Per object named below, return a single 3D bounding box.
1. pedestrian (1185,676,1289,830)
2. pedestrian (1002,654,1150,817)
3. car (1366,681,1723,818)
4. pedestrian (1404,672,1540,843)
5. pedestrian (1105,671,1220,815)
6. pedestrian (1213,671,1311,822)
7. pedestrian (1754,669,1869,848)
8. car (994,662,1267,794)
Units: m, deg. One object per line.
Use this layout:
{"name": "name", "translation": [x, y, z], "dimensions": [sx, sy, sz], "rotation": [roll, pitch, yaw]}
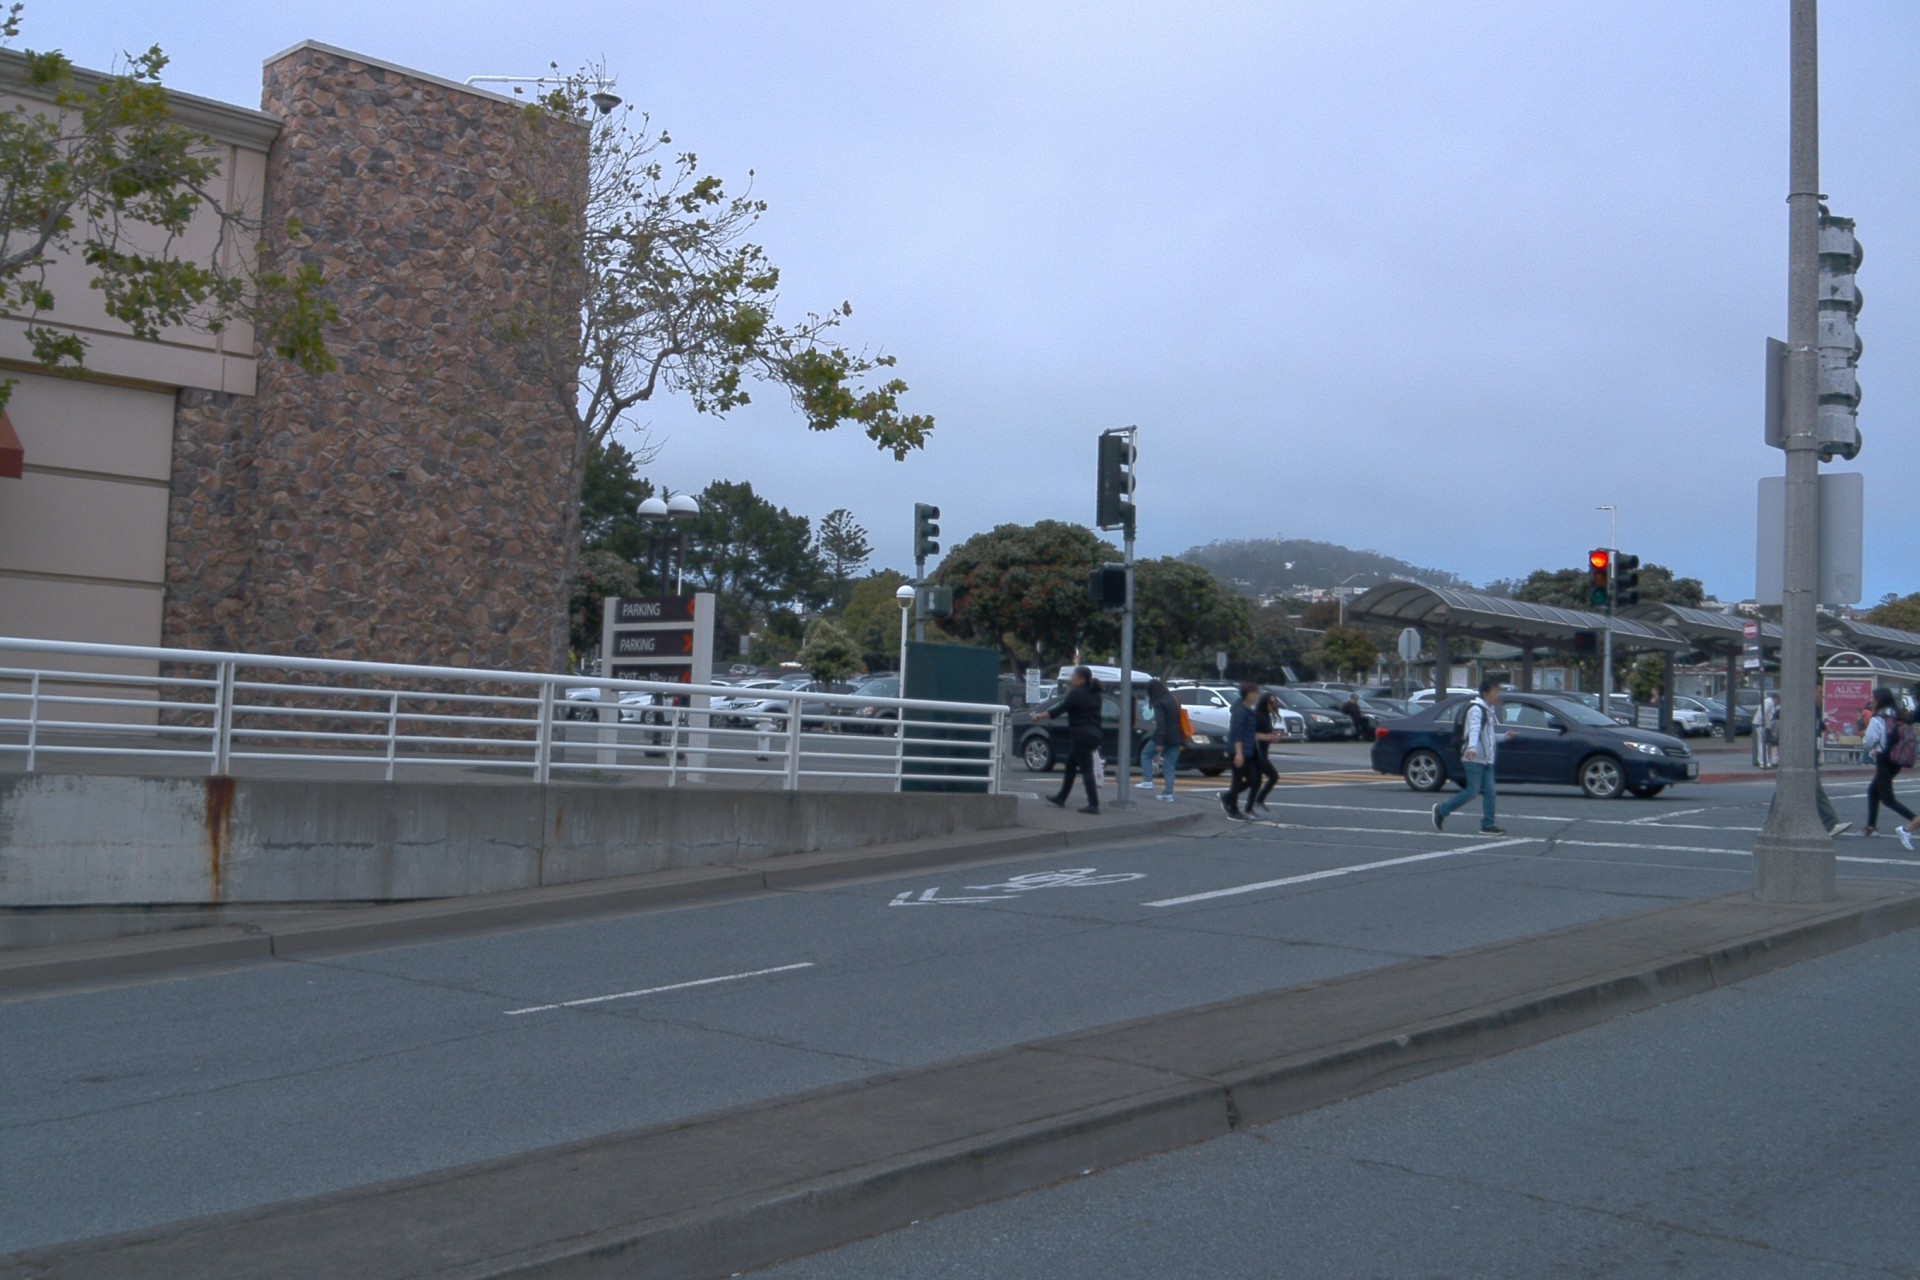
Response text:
{"name": "pedestrian", "translation": [3.094, 1.246, 23.039], "dimensions": [0.992, 1.650, 0.667], "rotation": [0, 1, 27]}
{"name": "pedestrian", "translation": [1.264, 1.004, 22.352], "dimensions": [1.121, 1.670, 1.227], "rotation": [0, 1, 34]}
{"name": "car", "translation": [8.195, 1.478, 29.133], "dimensions": [4.437, 1.650, 1.948], "rotation": [1, 1, 40]}
{"name": "pedestrian", "translation": [5.294, 1.188, 21.342], "dimensions": [1.048, 1.670, 0.929], "rotation": [1, 1, 42]}
{"name": "pedestrian", "translation": [2.503, 1.252, 25.477], "dimensions": [1.079, 1.690, 0.926], "rotation": [1, 1, 40]}
{"name": "pedestrian", "translation": [3.436, 1.190, 23.481], "dimensions": [0.961, 1.660, 0.602], "rotation": [0, 1, 26]}
{"name": "pedestrian", "translation": [8.519, 1.161, 20.646], "dimensions": [0.938, 1.720, 0.670], "rotation": [0, 1, 35]}
{"name": "car", "translation": [2.830, 1.416, 34.901], "dimensions": [4.359, 2.000, 1.881], "rotation": [1, 1, 43]}
